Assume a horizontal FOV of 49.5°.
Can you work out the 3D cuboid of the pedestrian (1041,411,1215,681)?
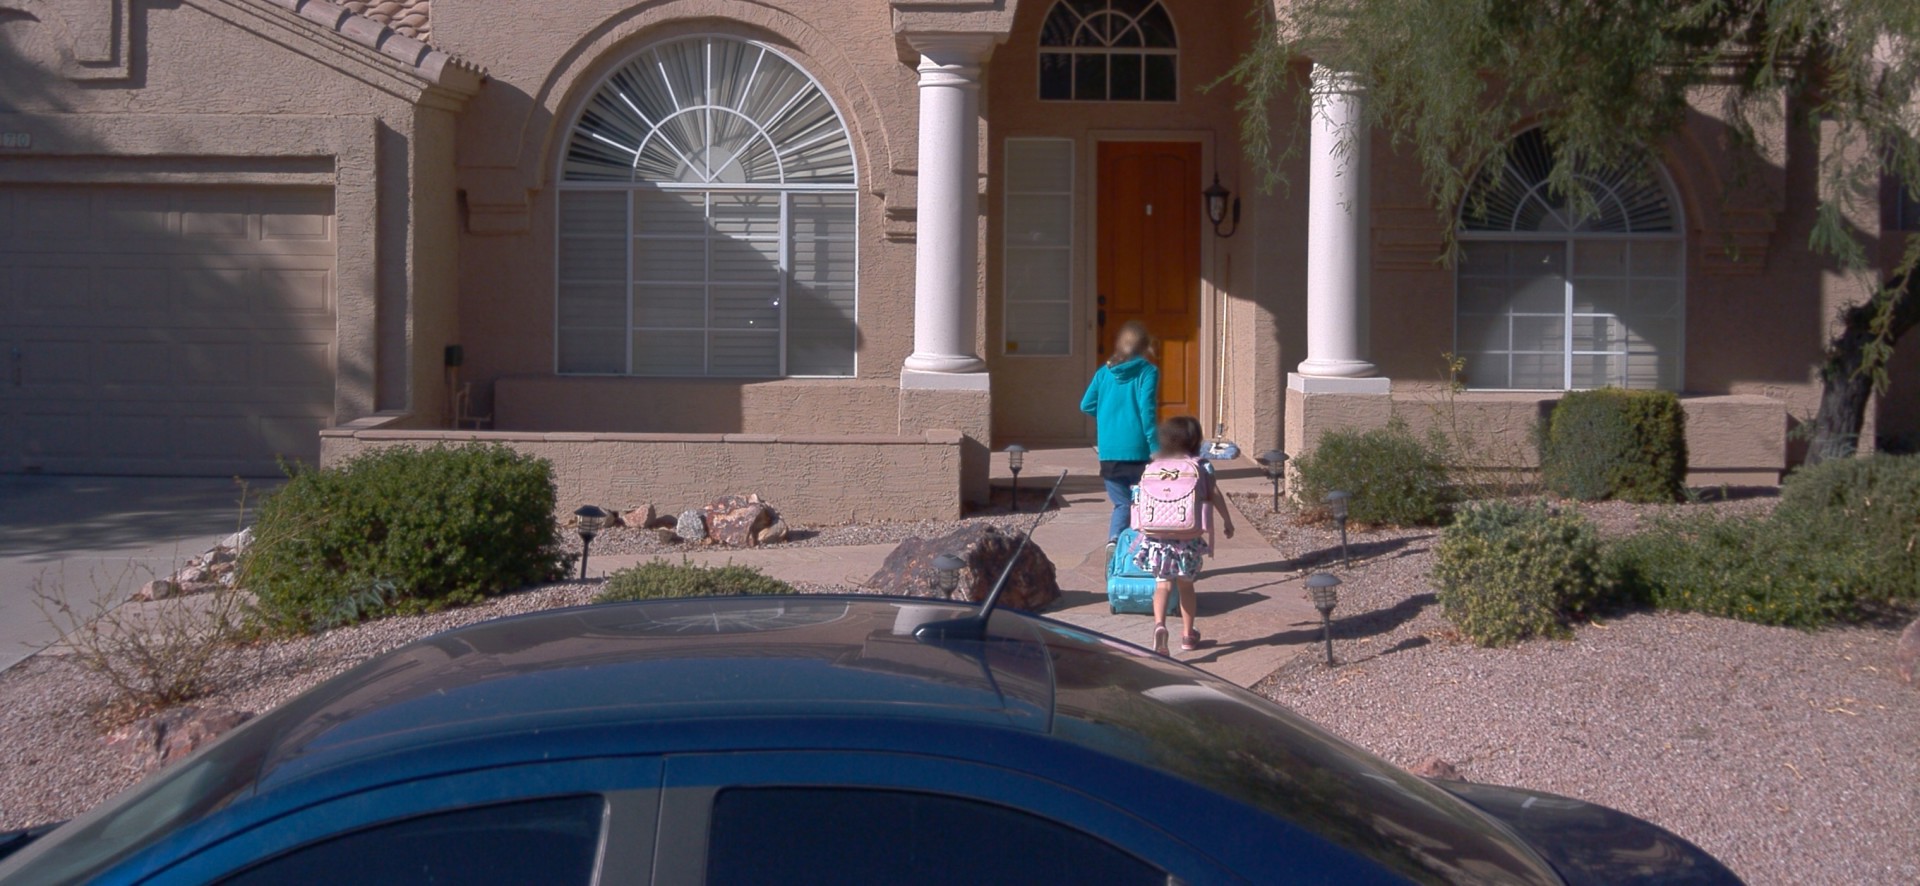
[{"bbox_3d":[0.778,0.442,9.494,0.699,1.088,0.765,1,2,11],"label":"pedestrian"}]

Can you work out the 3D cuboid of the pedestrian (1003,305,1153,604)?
[{"bbox_3d":[0.640,0.033,11.104,0.668,1.498,0.680,1,2,14],"label":"pedestrian"}]
